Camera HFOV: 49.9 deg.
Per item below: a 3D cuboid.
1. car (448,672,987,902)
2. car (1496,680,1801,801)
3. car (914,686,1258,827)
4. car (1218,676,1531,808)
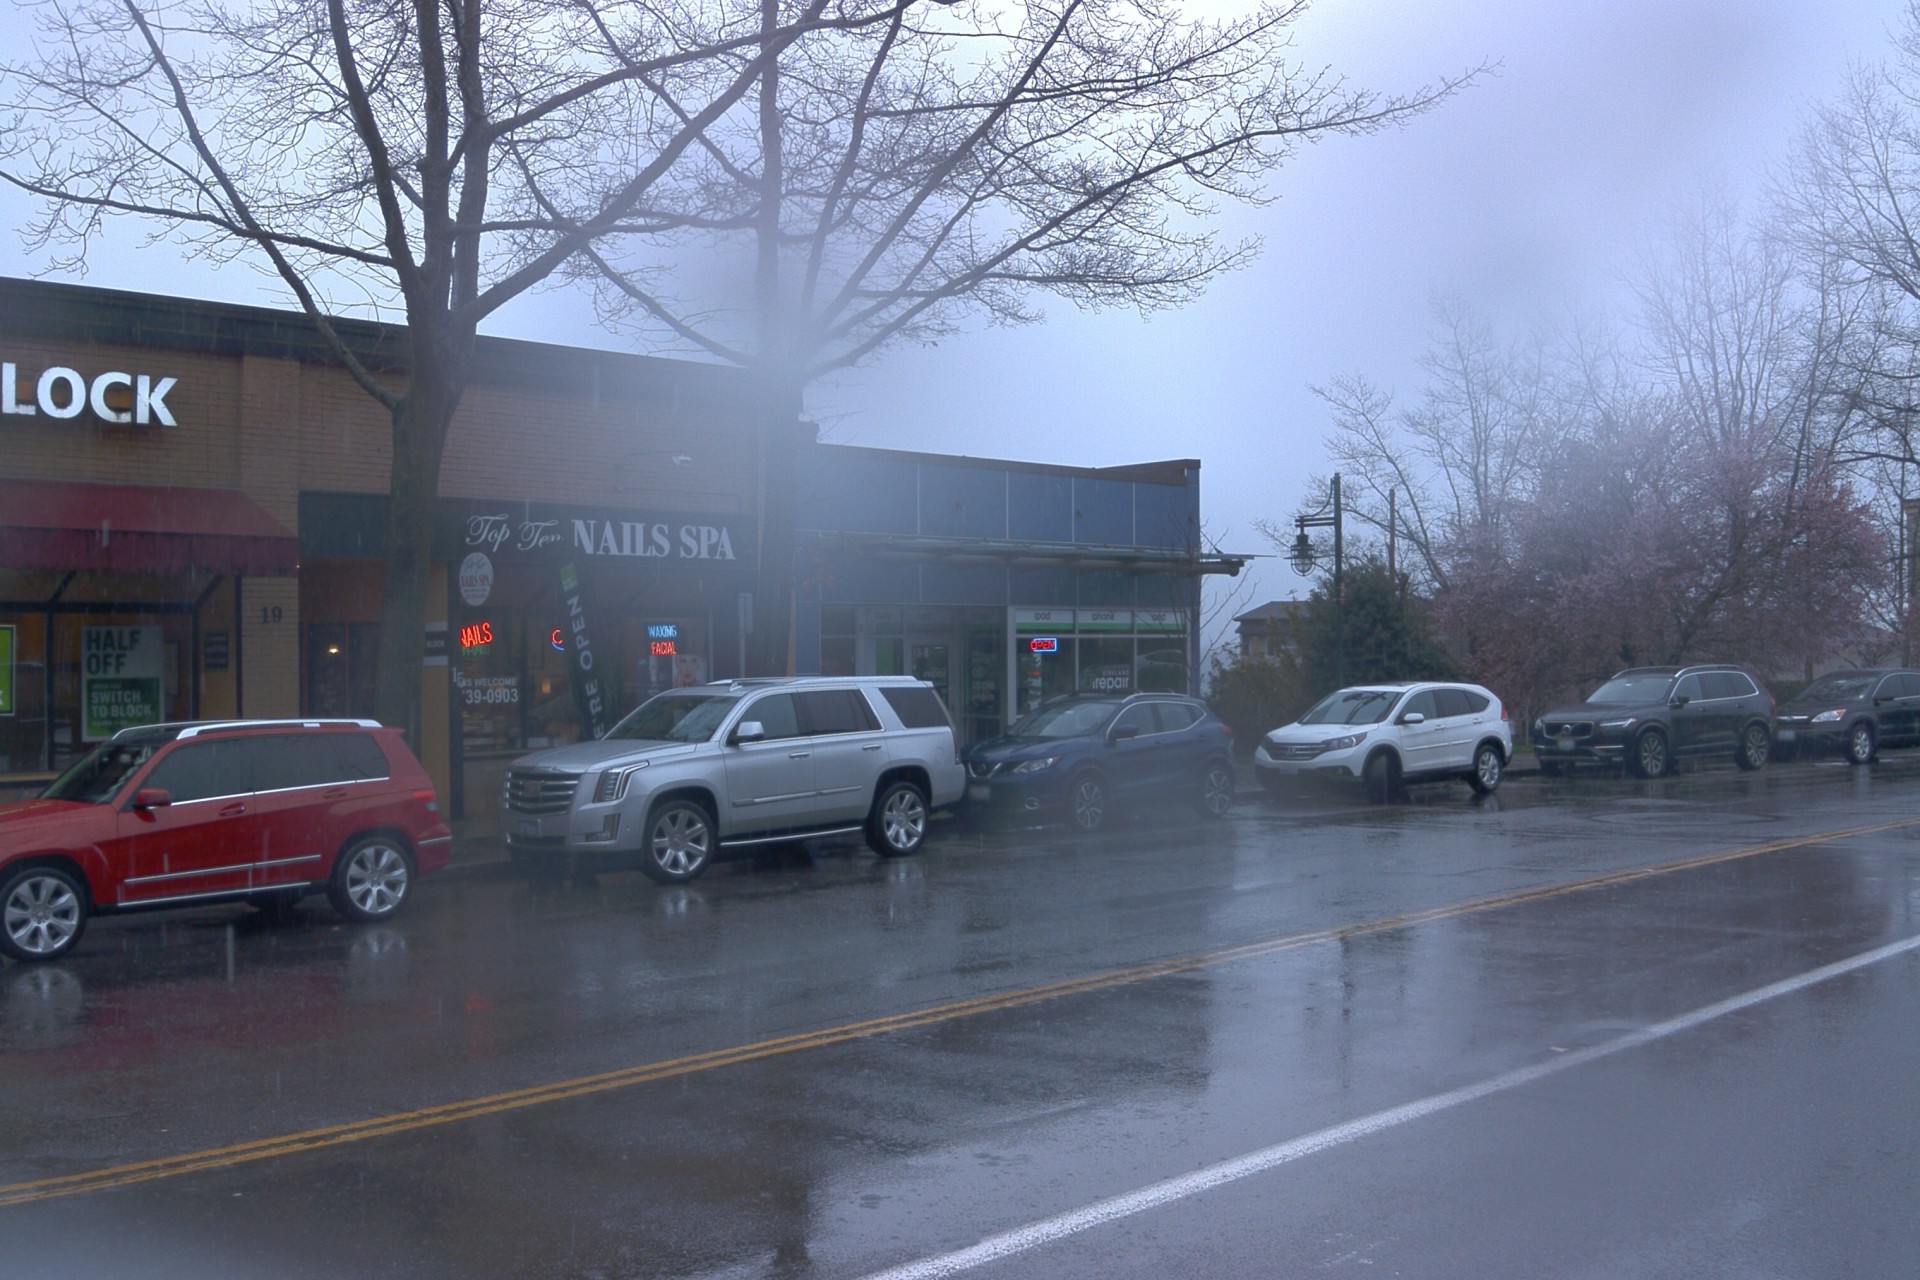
[{"bbox_3d":[-2.320,1.345,21.042,2.331,1.890,5.194,1,1,42],"label":"car"},{"bbox_3d":[11.416,1.589,34.052,5.296,1.690,2.144,-1,1,-37],"label":"car"},{"bbox_3d":[1.625,1.348,25.280,1.999,1.400,4.335,1,1,40],"label":"car"},{"bbox_3d":[5.998,1.391,29.594,4.481,1.610,2.181,-1,1,-43],"label":"car"}]
